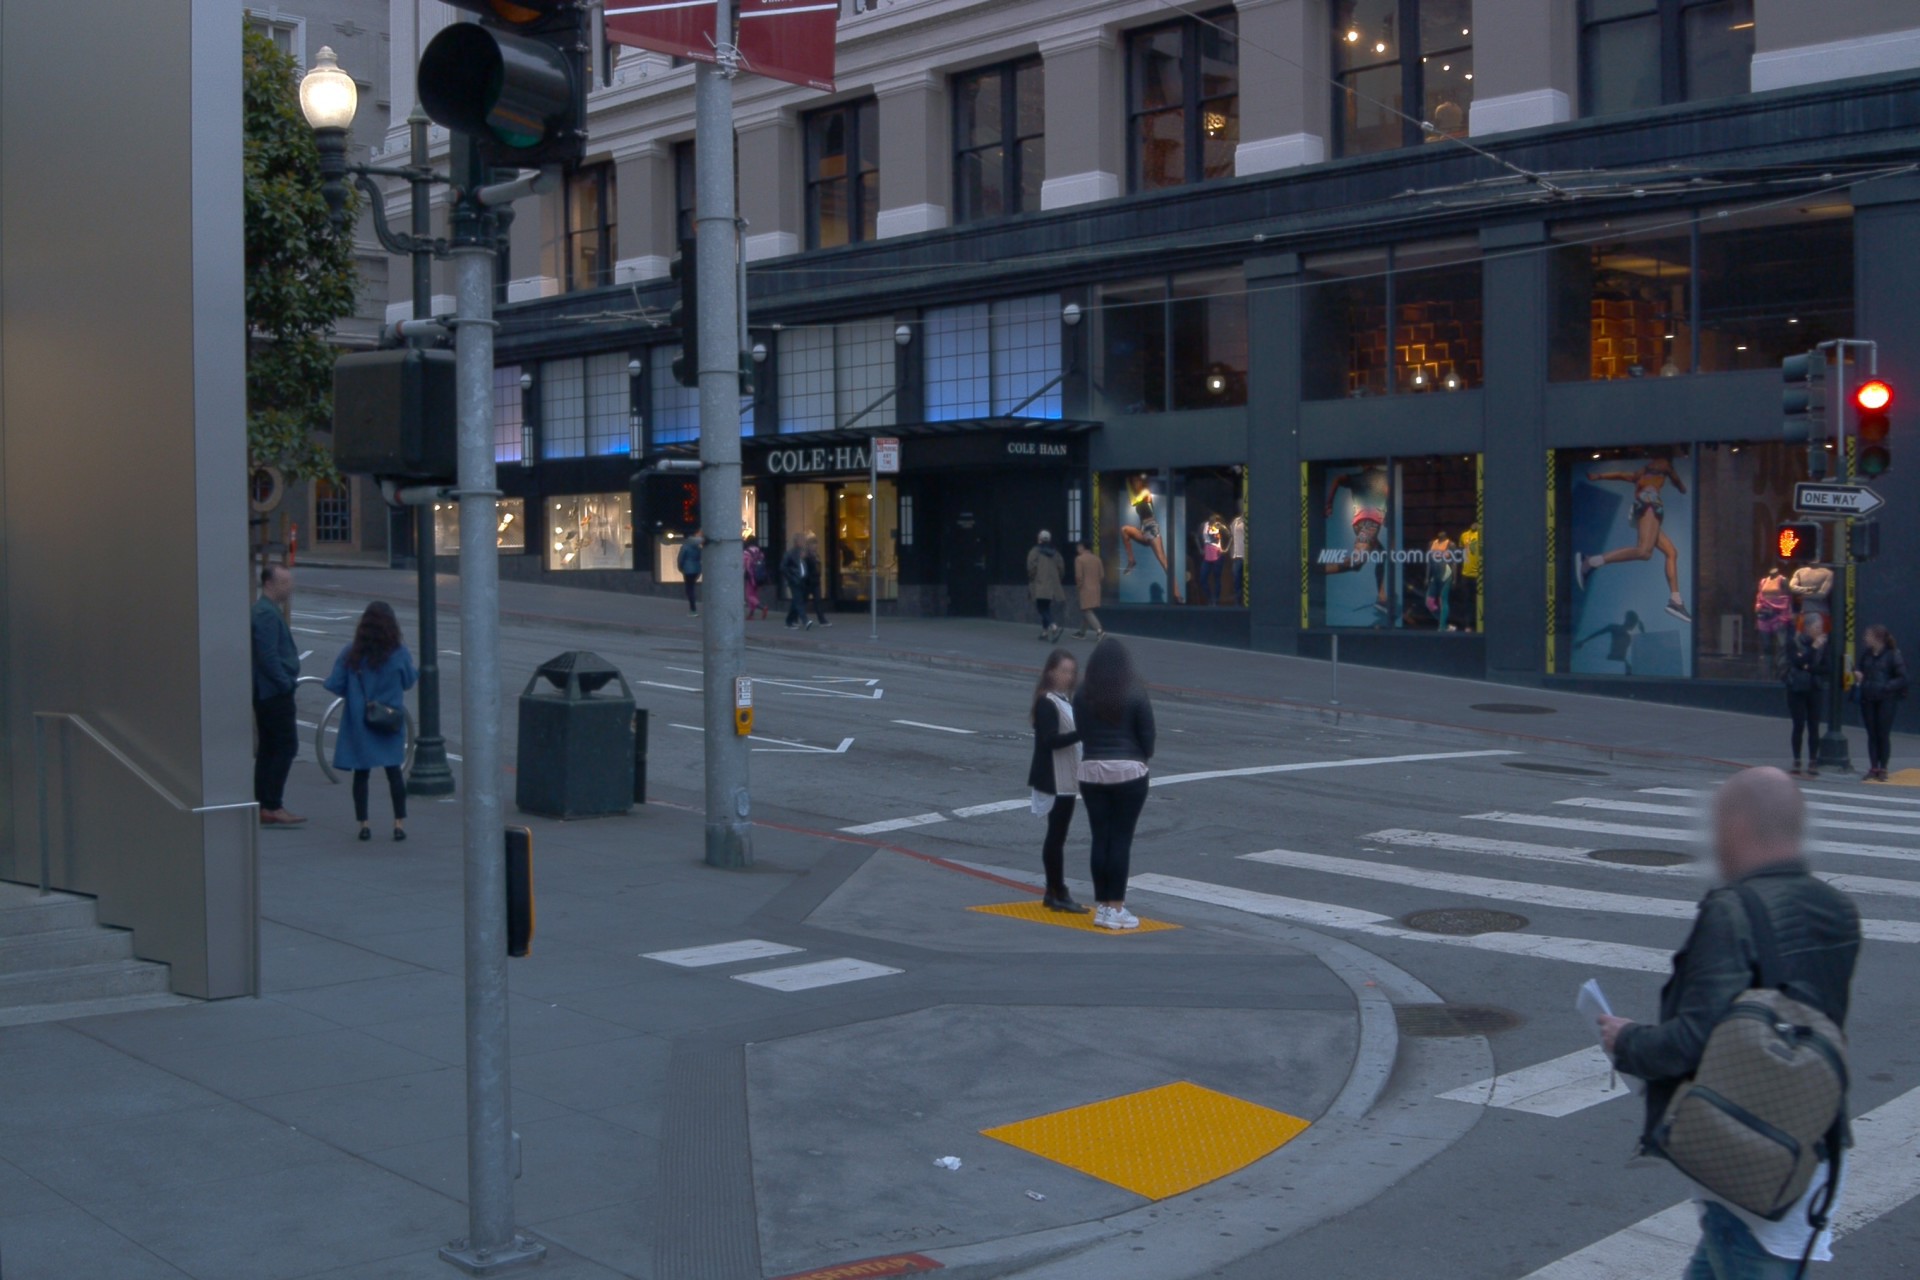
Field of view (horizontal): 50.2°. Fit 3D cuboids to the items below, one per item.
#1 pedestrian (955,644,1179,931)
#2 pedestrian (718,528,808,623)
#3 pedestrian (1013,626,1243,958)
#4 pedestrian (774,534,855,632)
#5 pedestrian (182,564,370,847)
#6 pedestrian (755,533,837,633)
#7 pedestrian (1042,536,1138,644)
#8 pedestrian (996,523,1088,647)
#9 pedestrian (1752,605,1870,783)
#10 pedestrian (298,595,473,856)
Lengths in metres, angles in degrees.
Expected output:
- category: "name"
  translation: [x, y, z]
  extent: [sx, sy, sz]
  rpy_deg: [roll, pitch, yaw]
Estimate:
- category: "pedestrian"
  translation: [0.679, 0.890, 13.067]
  extent: [1.003, 1.710, 0.997]
  rpy_deg: [0, 1, -43]
- category: "pedestrian"
  translation: [-3.581, -1.156, 37.255]
  extent: [1.183, 1.690, 1.127]
  rpy_deg: [1, 1, 35]
- category: "pedestrian"
  translation: [1.011, 0.866, 12.354]
  extent: [1.113, 1.890, 0.813]
  rpy_deg: [0, 1, -33]
- category: "pedestrian"
  translation: [-2.500, -0.972, 35.176]
  extent: [1.047, 1.650, 0.891]
  rpy_deg: [1, 1, 41]
- category: "pedestrian"
  translation: [-4.958, 0.445, 14.851]
  extent: [0.981, 1.960, 0.939]
  rpy_deg: [1, 1, 44]
- category: "pedestrian"
  translation: [-2.771, -0.948, 34.580]
  extent: [1.047, 1.650, 0.891]
  rpy_deg: [1, 1, 42]
- category: "pedestrian"
  translation: [2.079, -0.792, 32.865]
  extent: [1.053, 1.700, 1.109]
  rpy_deg: [0, 1, -40]
- category: "pedestrian"
  translation: [1.307, -0.864, 32.598]
  extent: [0.963, 1.920, 1.104]
  rpy_deg: [0, 1, -38]
- category: "pedestrian"
  translation: [8.945, 0.539, 21.527]
  extent: [0.895, 1.800, 1.088]
  rpy_deg: [1, 1, 36]
- category: "pedestrian"
  translation: [-4.023, 0.564, 14.335]
  extent: [0.951, 1.750, 0.801]
  rpy_deg: [0, 1, -37]
